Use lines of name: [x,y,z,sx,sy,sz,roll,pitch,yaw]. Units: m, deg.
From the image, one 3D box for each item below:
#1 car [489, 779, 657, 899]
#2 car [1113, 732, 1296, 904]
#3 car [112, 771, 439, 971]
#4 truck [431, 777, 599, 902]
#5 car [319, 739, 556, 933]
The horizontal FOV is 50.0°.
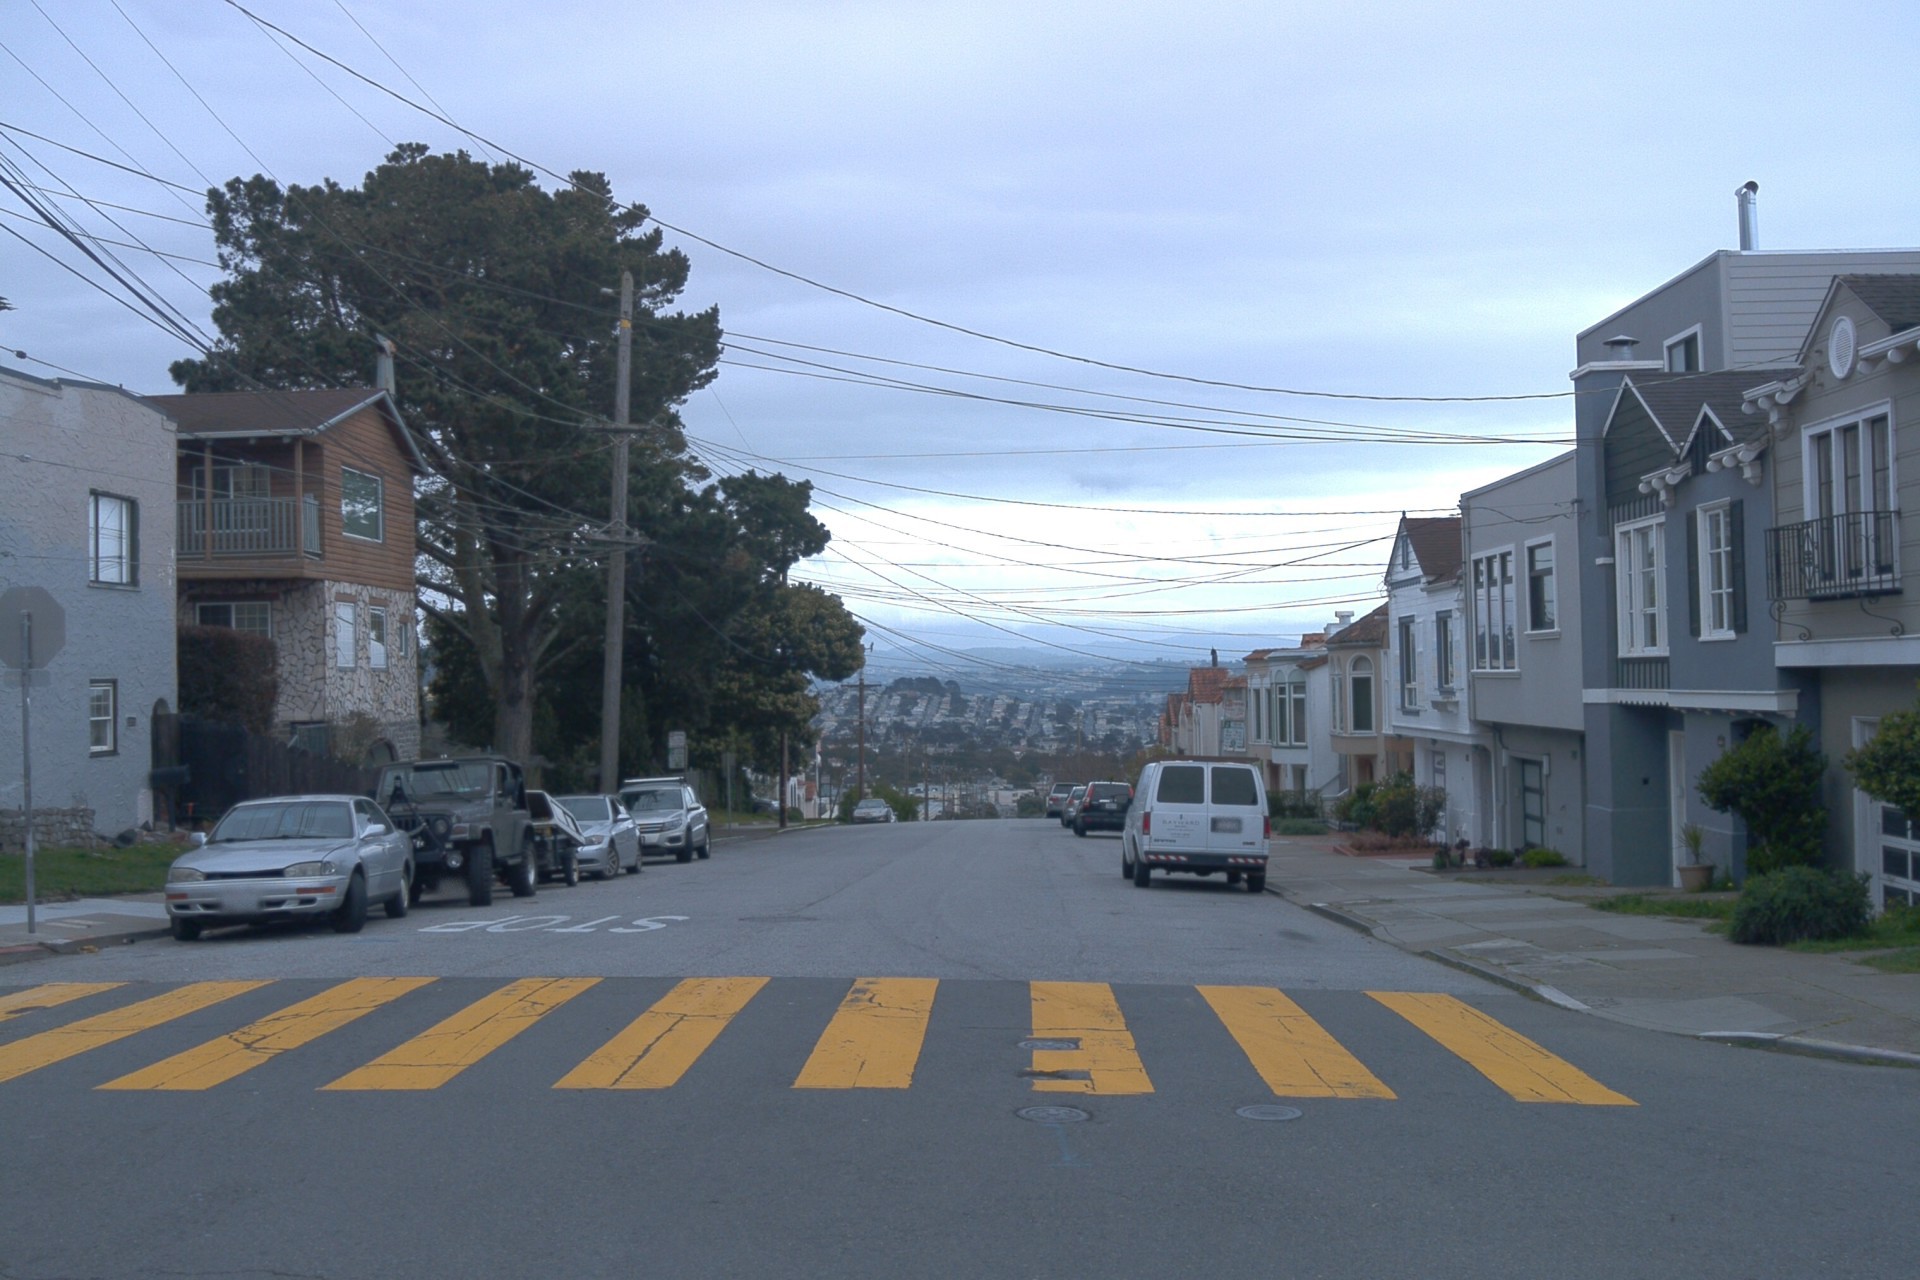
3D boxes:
car: [-6.252,3.197,33.756,1.979,1.530,4.512,0,0,-1]
car: [3.608,2.607,31.355,2.330,2.195,4.904,0,0,1]
car: [-6.842,2.256,21.197,2.100,1.500,4.826,0,0,-5]
truck: [-6.348,2.824,29.663,1.696,1.510,2.985,0,0,2]
car: [-6.454,2.367,25.920,1.997,2.030,4.192,0,0,-1]
